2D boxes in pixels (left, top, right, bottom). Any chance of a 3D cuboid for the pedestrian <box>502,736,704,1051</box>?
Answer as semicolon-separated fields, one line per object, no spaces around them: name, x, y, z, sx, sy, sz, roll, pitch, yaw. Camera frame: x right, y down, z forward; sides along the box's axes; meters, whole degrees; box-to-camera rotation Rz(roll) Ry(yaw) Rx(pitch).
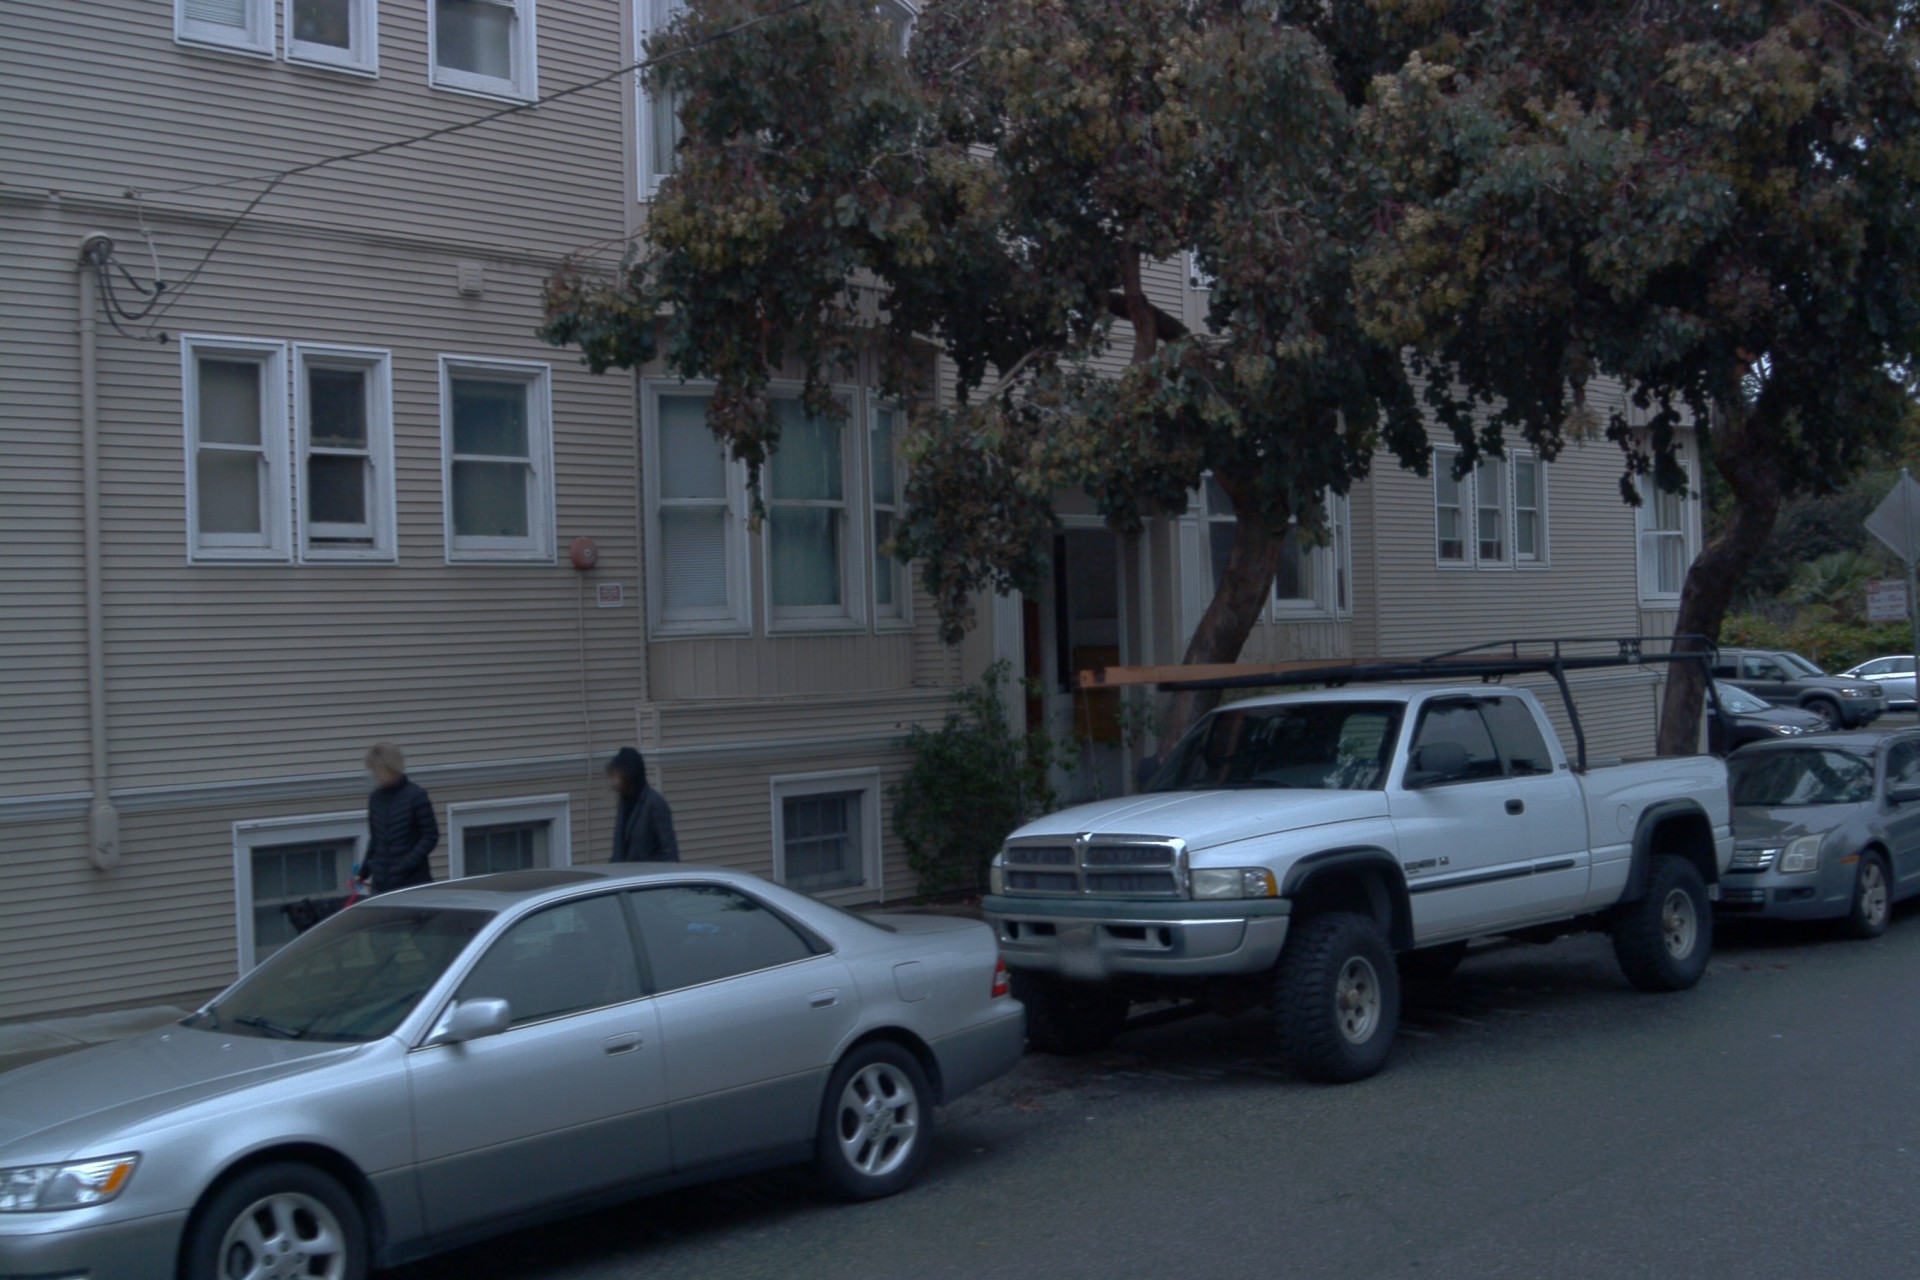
pedestrian;-2.050;1.411;11.751;0.900;1.650;0.749;1;1;44

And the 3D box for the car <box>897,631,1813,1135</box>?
car;2.658;1.093;12.304;6.095;2.270;2.343;0;1;-45

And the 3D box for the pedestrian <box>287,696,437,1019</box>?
pedestrian;-3.604;1.285;12.376;0.646;1.860;0.576;1;1;22

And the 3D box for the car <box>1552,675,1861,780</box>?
car;12.690;1.432;35.036;2.010;1.540;4.524;0;1;-44
